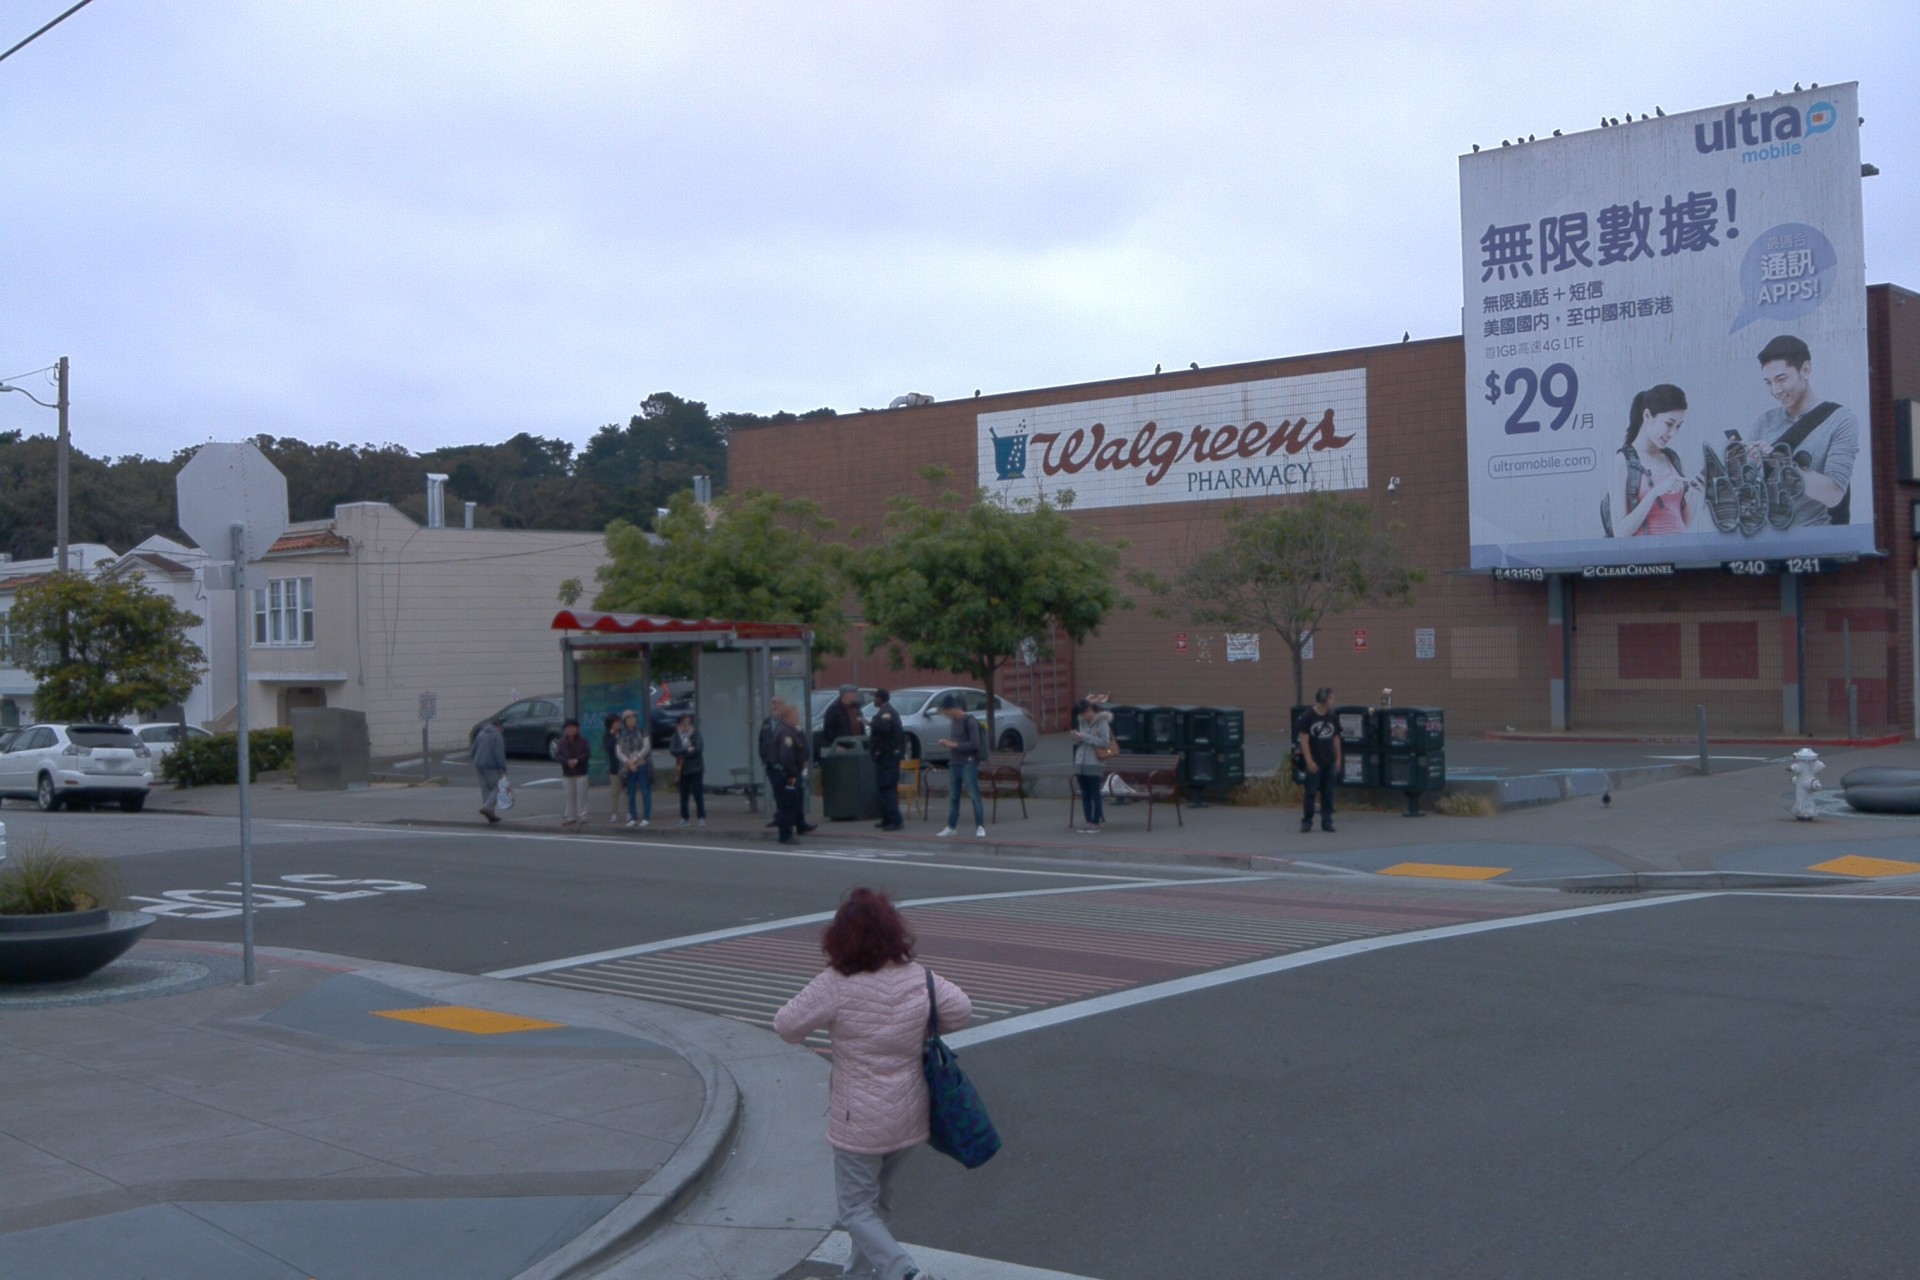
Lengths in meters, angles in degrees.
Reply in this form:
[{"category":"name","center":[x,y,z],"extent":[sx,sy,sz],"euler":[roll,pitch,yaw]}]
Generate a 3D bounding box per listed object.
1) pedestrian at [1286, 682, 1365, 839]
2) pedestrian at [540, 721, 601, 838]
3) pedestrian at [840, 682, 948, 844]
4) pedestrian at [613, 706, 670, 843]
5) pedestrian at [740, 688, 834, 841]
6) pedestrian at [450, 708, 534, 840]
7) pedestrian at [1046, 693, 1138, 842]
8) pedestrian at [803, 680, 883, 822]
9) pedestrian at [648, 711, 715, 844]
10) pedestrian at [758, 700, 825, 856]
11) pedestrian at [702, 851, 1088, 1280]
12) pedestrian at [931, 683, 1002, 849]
[{"category":"pedestrian","center":[4.188,1.362,23.625],"extent":[0.724,1.730,0.738],"euler":[0,1,24]},{"category":"pedestrian","center":[-5.595,1.997,29.668],"extent":[0.683,1.610,0.710],"euler":[0,1,4]},{"category":"pedestrian","center":[-0.823,1.510,25.834],"extent":[0.953,1.930,0.996],"euler":[1,1,32]},{"category":"pedestrian","center":[-4.402,1.848,28.571],"extent":[0.760,1.830,0.681],"euler":[0,1,-8]},{"category":"pedestrian","center":[-2.267,1.612,27.064],"extent":[0.850,1.910,0.931],"euler":[-1,1,-40]},{"category":"pedestrian","center":[-6.947,1.969,30.661],"extent":[0.924,1.880,0.868],"euler":[0,1,12]},{"category":"pedestrian","center":[1.565,1.493,24.507],"extent":[0.872,1.690,0.667],"euler":[1,1,40]},{"category":"pedestrian","center":[-1.671,1.565,29.457],"extent":[0.921,1.935,0.825],"euler":[0,1,-23]},{"category":"pedestrian","center":[-3.772,1.844,27.943],"extent":[0.686,1.730,0.706],"euler":[-1,1,-31]},{"category":"pedestrian","center":[-2.085,1.694,25.553],"extent":[0.811,1.841,0.986],"euler":[0,1,-5]},{"category":"pedestrian","center":[-0.215,1.479,6.517],"extent":[0.912,1.479,0.848],"euler":[-1,1,-33]},{"category":"pedestrian","center":[0.073,1.487,24.656],"extent":[0.665,1.910,0.874],"euler":[0,1,-14]}]
